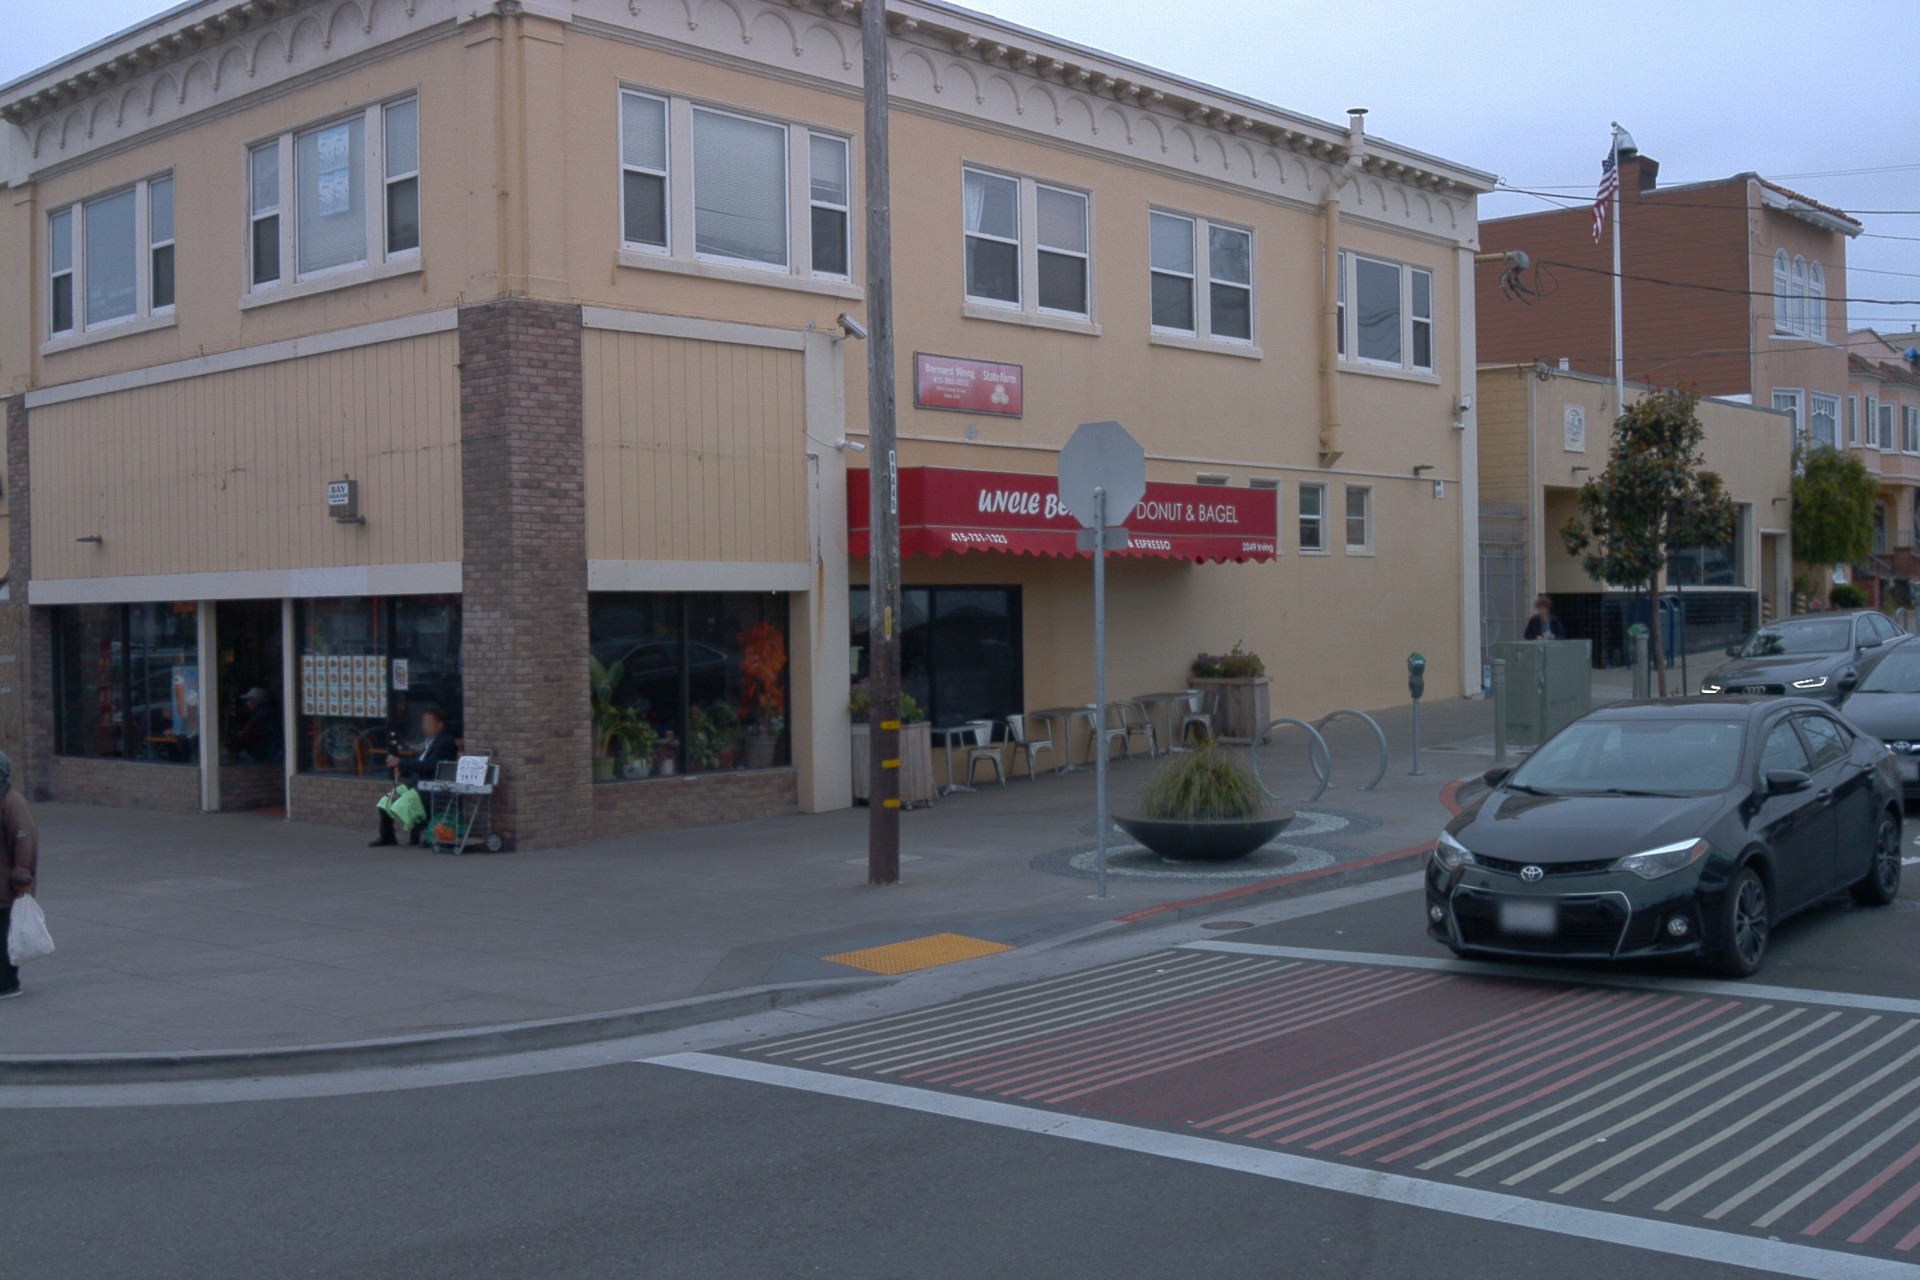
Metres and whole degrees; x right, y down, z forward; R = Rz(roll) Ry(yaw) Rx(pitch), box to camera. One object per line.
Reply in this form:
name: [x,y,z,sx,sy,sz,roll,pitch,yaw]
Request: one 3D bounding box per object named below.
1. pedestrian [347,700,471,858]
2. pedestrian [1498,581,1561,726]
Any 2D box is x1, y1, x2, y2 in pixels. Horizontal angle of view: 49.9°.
pedestrian: [-5.107,1.267,19.146,0.878,1.374,0.735,1,1,42]
pedestrian: [8.033,0.182,29.127,0.738,2.018,0.671,0,1,26]
